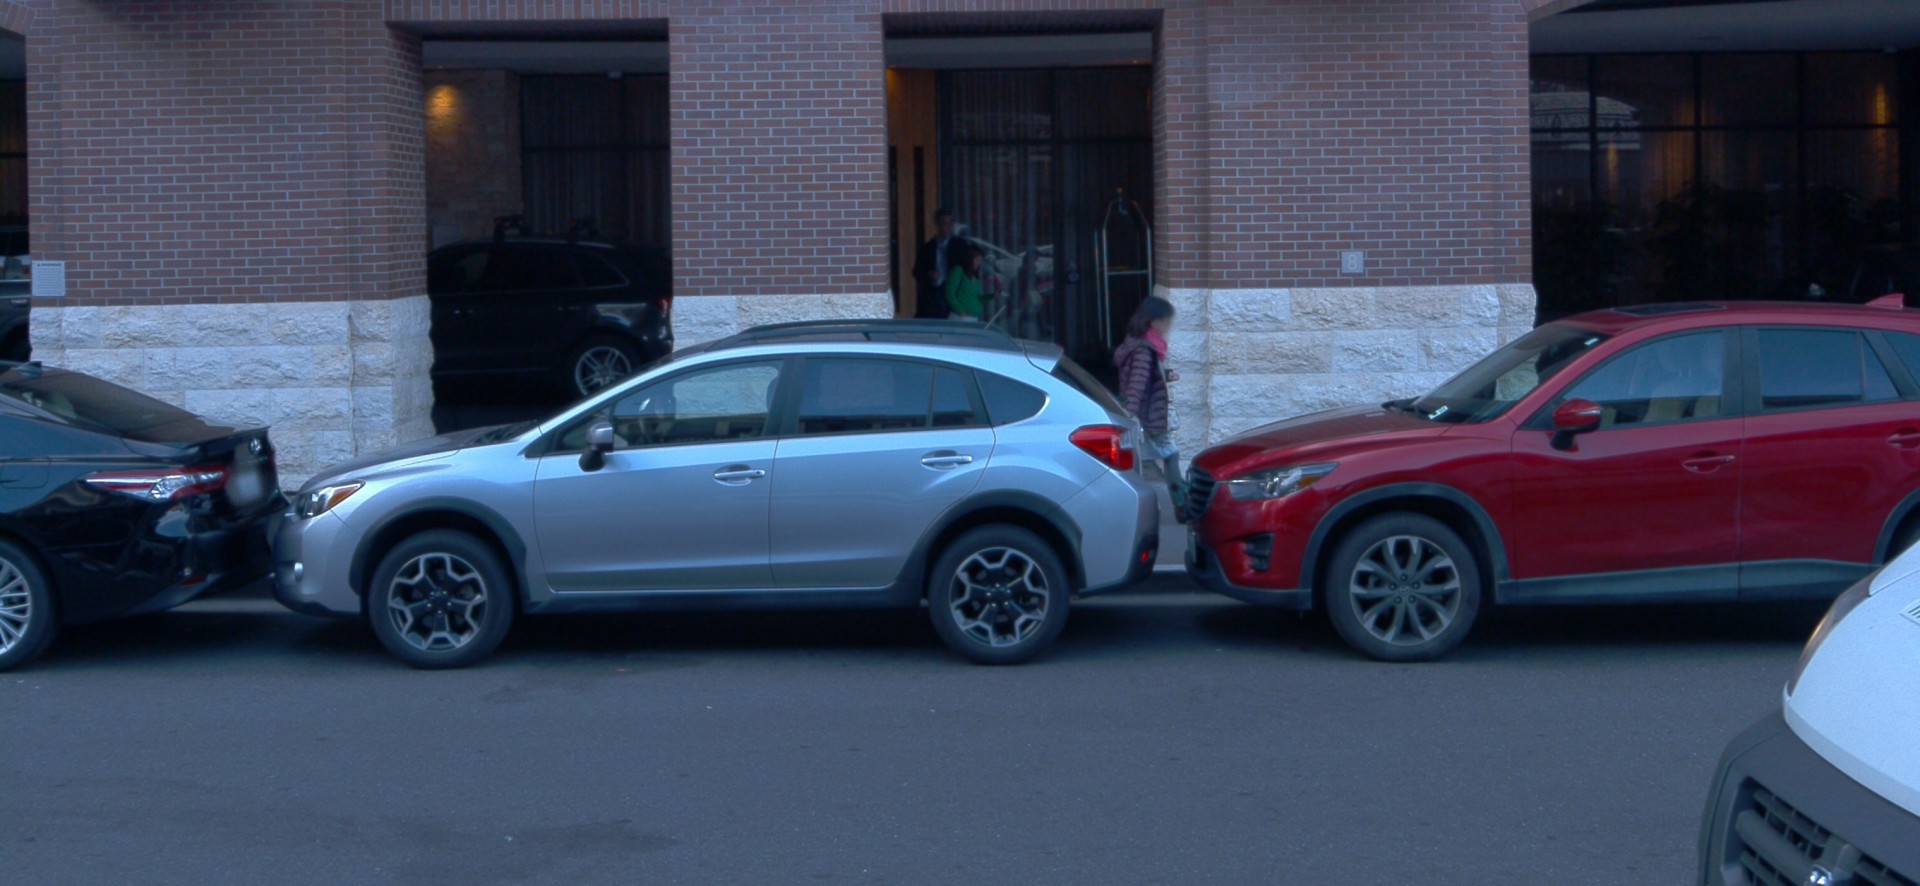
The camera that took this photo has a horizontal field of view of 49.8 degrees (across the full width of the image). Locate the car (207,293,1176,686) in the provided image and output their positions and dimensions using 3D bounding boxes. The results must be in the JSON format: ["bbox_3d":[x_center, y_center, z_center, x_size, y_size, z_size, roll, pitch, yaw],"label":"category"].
[{"bbox_3d":[-1.233,0.144,10.556,4.456,1.687,2.062,0,4,1],"label":"car"}]

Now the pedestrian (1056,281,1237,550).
[{"bbox_3d":[1.158,-0.210,13.029,0.931,1.581,0.962,-1,3,-8],"label":"pedestrian"}]
